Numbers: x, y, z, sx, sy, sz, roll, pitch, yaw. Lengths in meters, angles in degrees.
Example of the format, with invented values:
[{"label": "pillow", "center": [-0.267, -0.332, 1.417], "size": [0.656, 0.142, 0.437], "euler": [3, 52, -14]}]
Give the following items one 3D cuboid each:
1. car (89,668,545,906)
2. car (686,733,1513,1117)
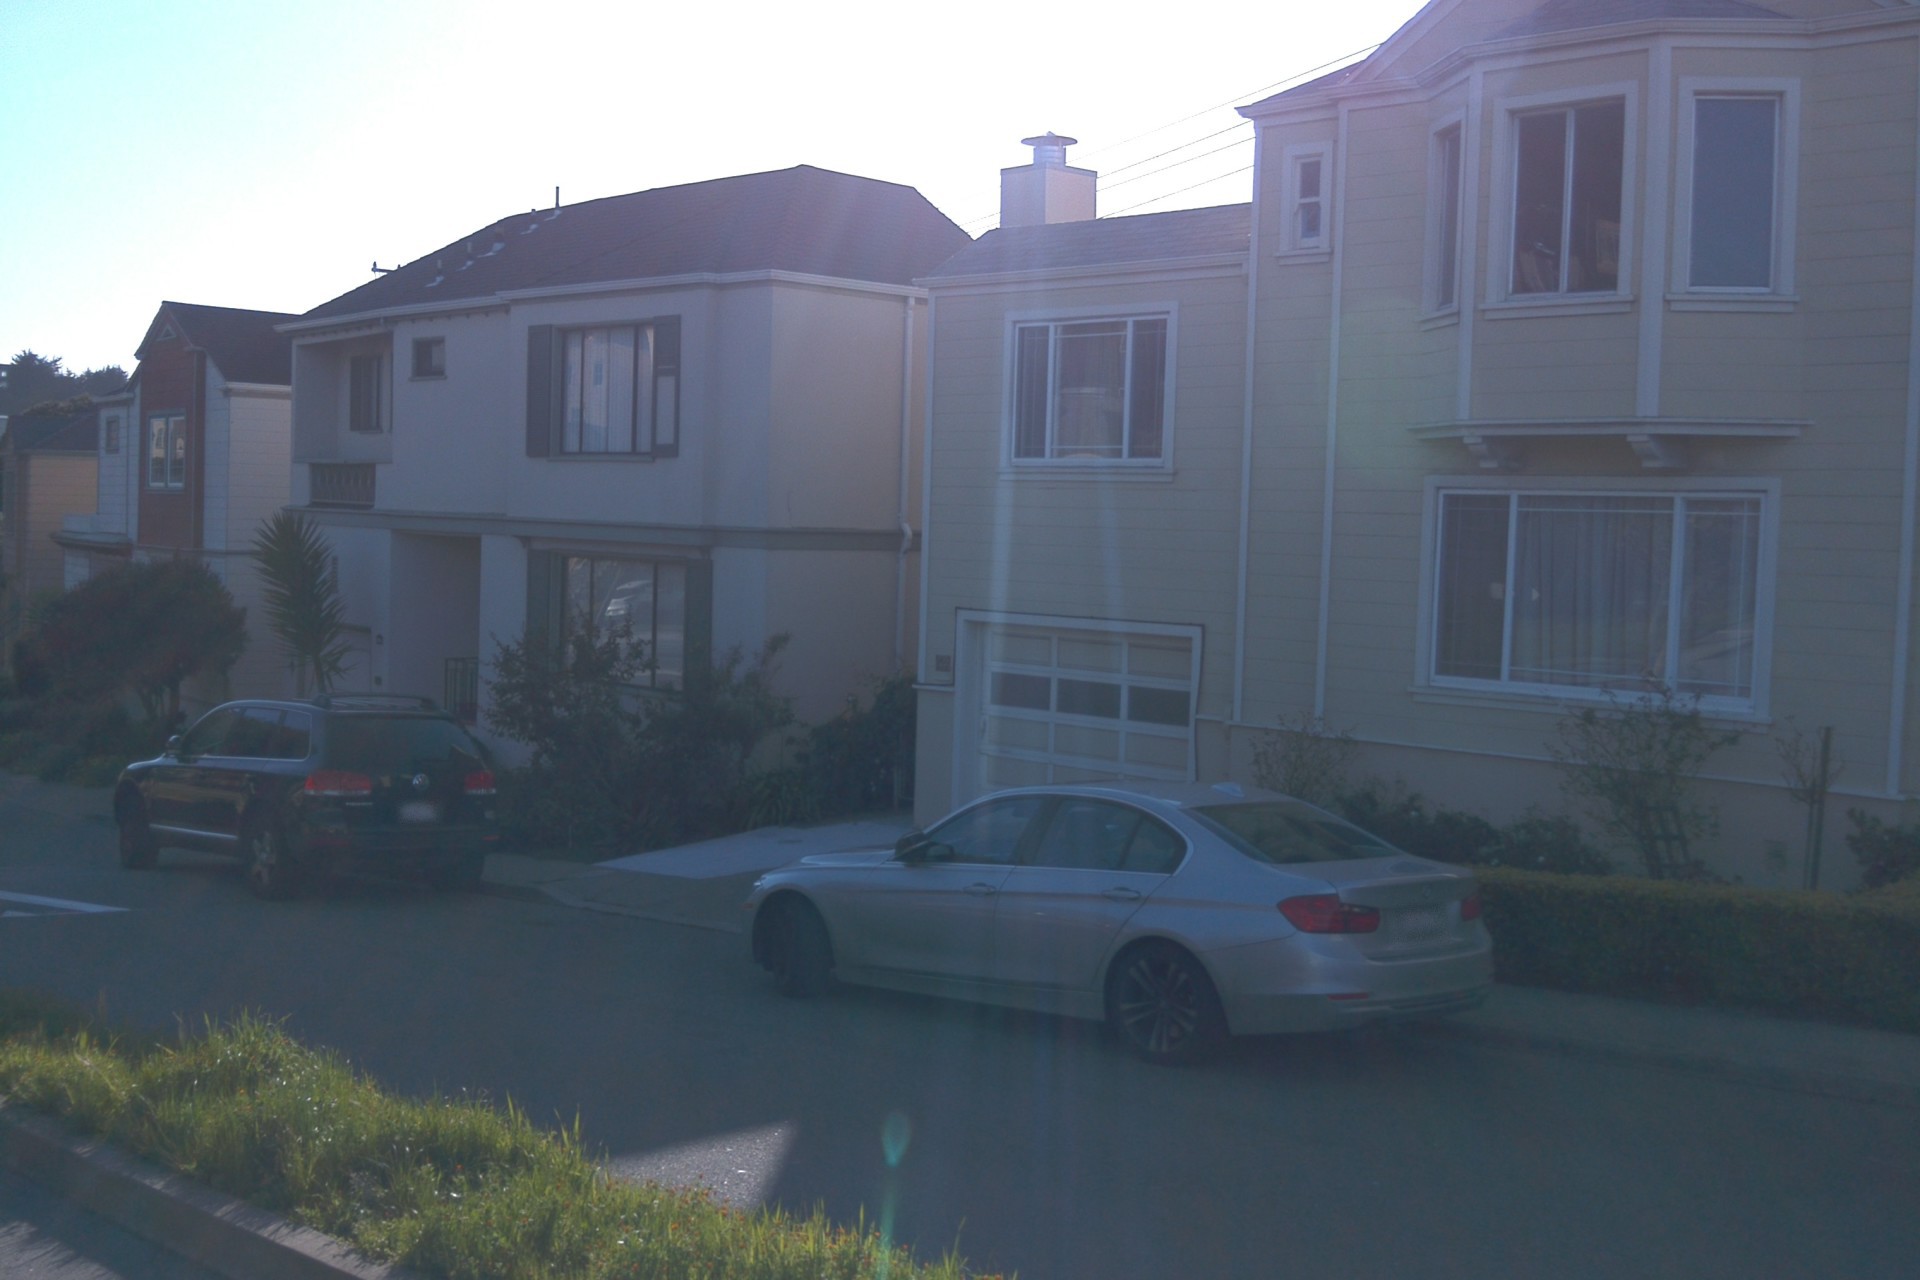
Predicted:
[{"label": "car", "center": [-5.987, 1.205, 19.154], "size": [2.142, 1.830, 4.742], "euler": [1, 0, -42]}, {"label": "car", "center": [0.640, 1.457, 12.311], "size": [2.062, 1.620, 4.623], "euler": [1, 0, -45]}]
